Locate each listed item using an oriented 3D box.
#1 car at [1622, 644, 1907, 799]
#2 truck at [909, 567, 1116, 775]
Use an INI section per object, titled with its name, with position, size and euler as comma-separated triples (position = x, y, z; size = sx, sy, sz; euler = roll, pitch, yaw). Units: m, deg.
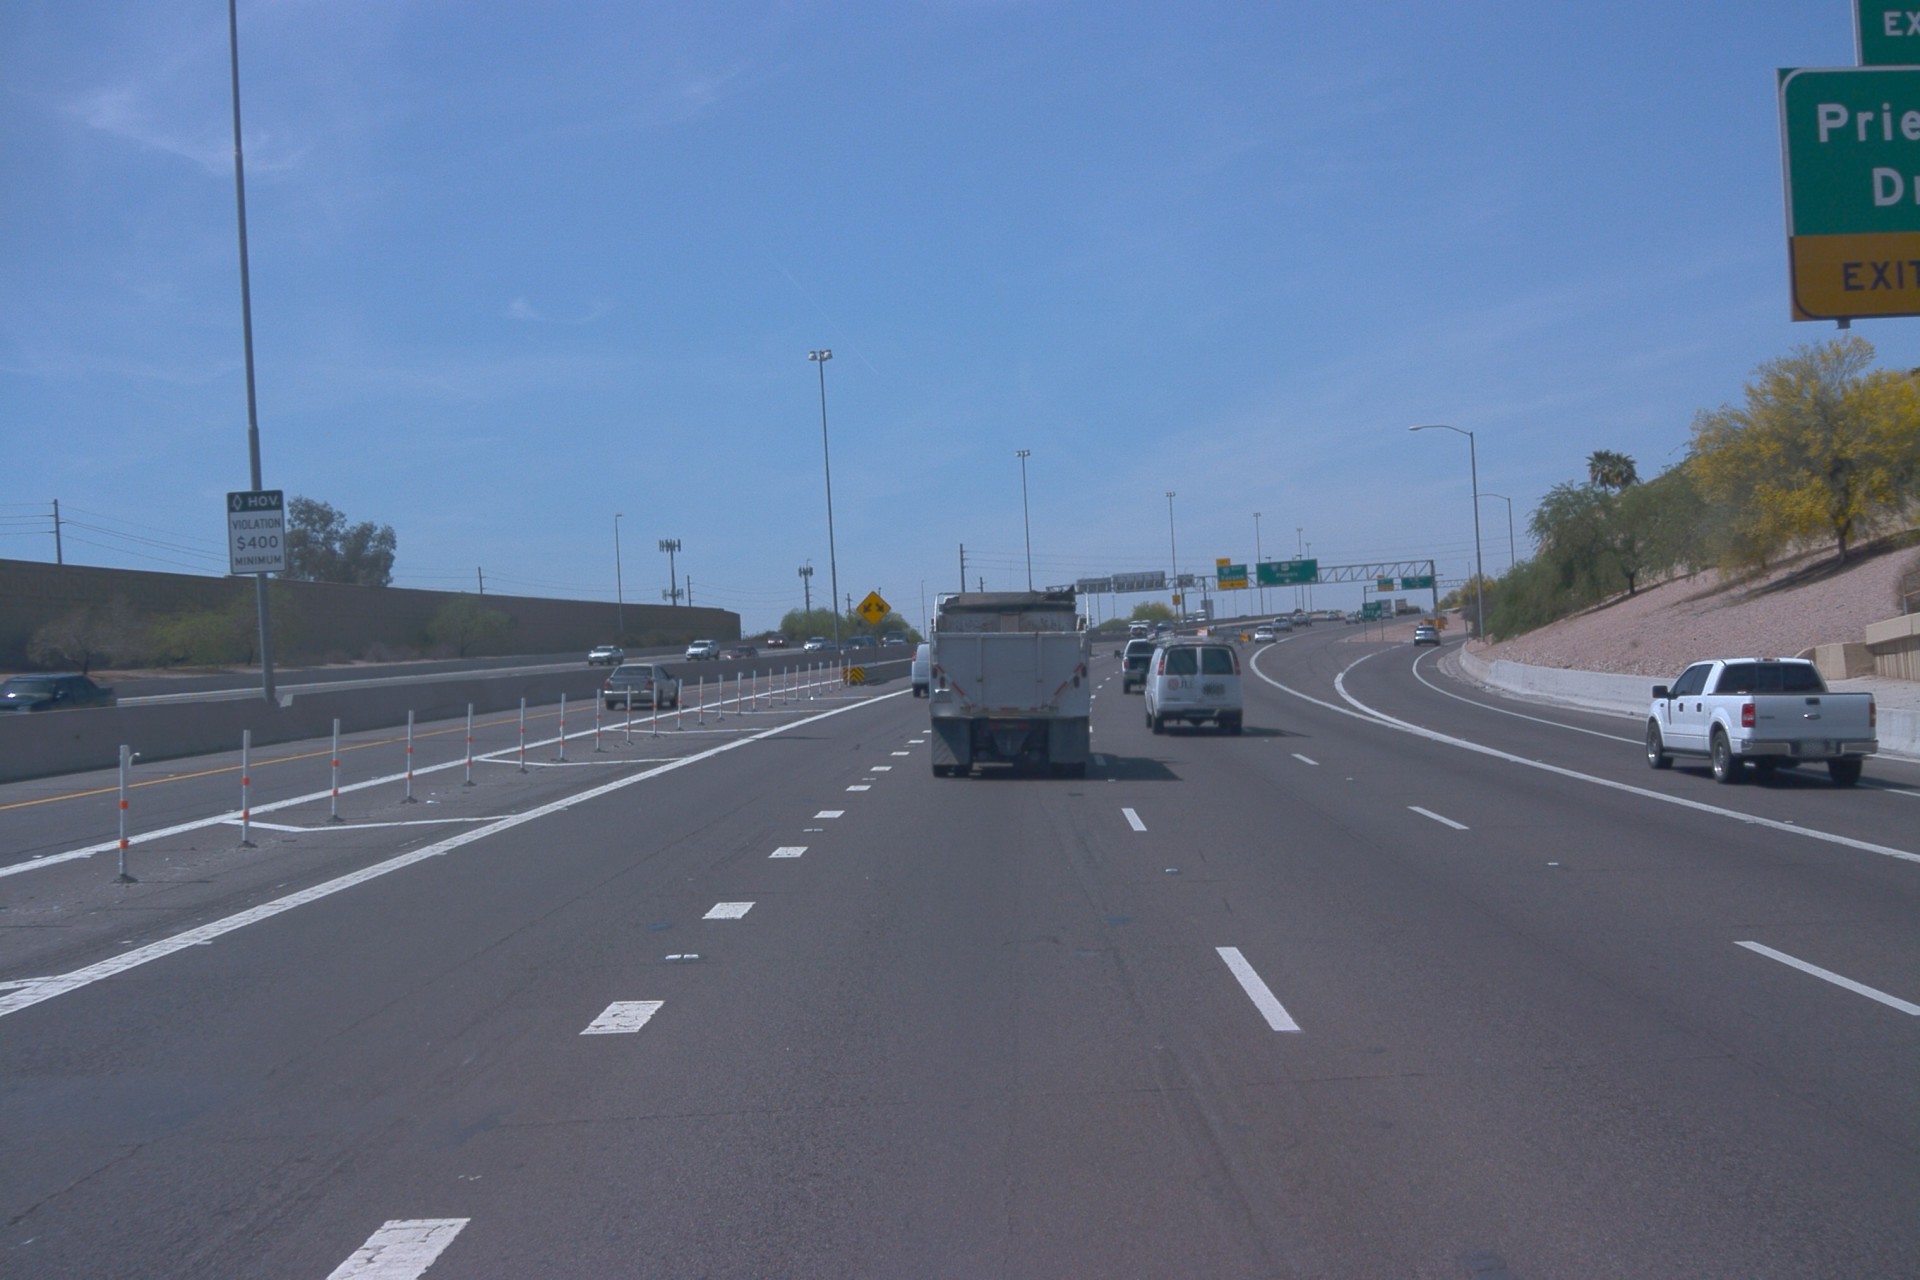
[car]
position = 12.313, 1.172, 32.224
size = 2.519, 2.190, 5.662
euler = 0, 0, 3
[truck]
position = 0.923, 0.487, 34.857
size = 3.162, 3.170, 6.476
euler = 0, 0, 2
